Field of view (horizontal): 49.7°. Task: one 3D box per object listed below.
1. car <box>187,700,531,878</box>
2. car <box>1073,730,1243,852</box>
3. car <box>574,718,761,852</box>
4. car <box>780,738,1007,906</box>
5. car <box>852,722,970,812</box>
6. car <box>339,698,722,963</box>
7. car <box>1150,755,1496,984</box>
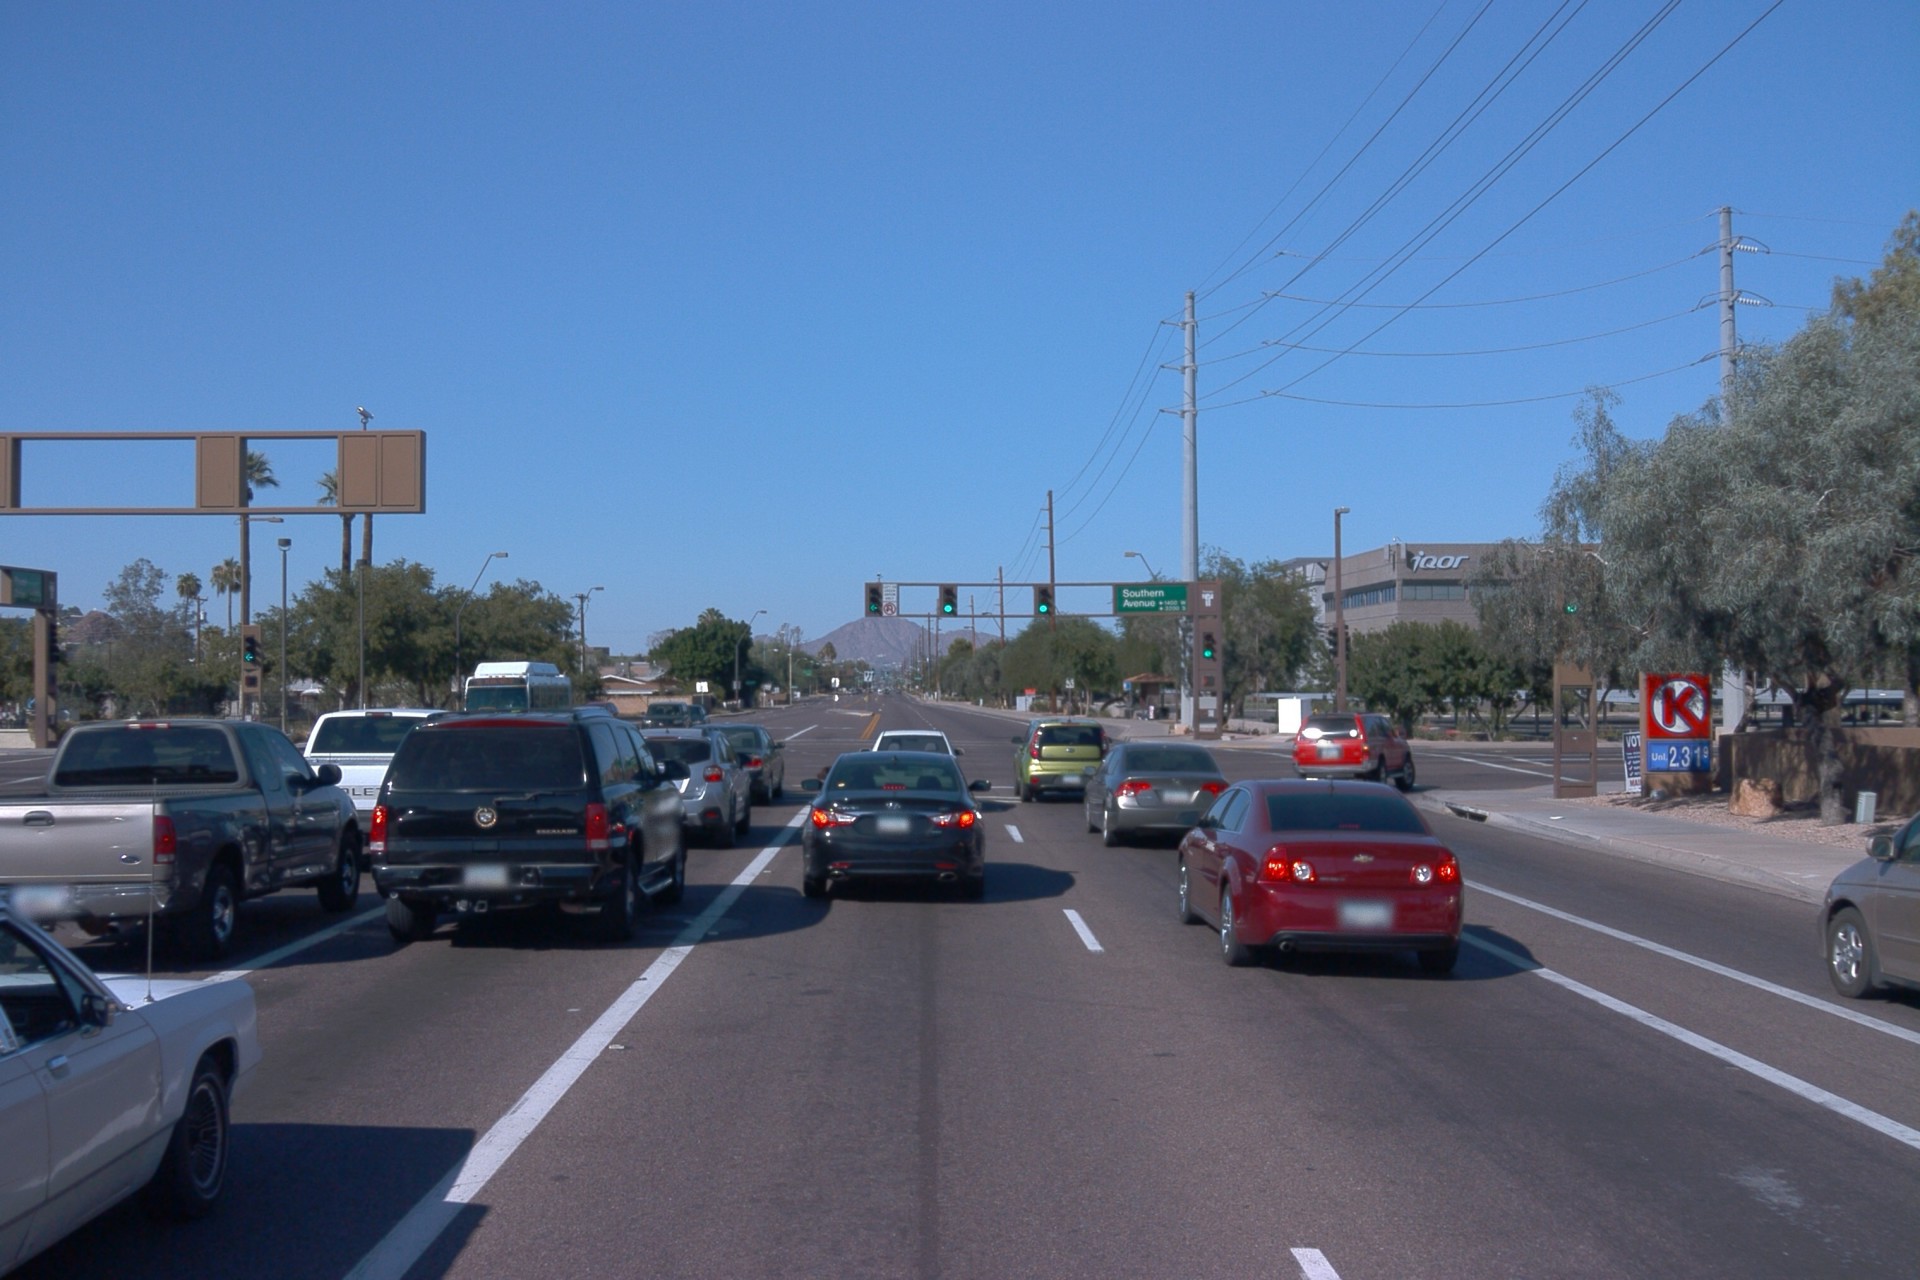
[{"bbox_3d":[-7.298,1.741,26.045,2.493,1.900,6.193,0,-1,0],"label":"car"},{"bbox_3d":[2.741,2.091,29.674,1.907,1.500,4.575,0,-1,-1],"label":"car"},{"bbox_3d":[-3.947,1.933,28.690,2.076,1.610,4.768,0,-1,-2],"label":"car"},{"bbox_3d":[-0.680,1.853,22.178,2.156,1.470,4.806,0,-1,-1],"label":"car"},{"bbox_3d":[-0.865,2.212,37.114,1.969,1.400,5.048,0,-1,-1],"label":"car"},{"bbox_3d":[-3.576,1.527,18.365,2.219,1.970,5.012,0,-1,2],"label":"car"},{"bbox_3d":[2.850,1.796,17.399,1.961,1.480,4.830,0,-1,-1],"label":"car"}]
